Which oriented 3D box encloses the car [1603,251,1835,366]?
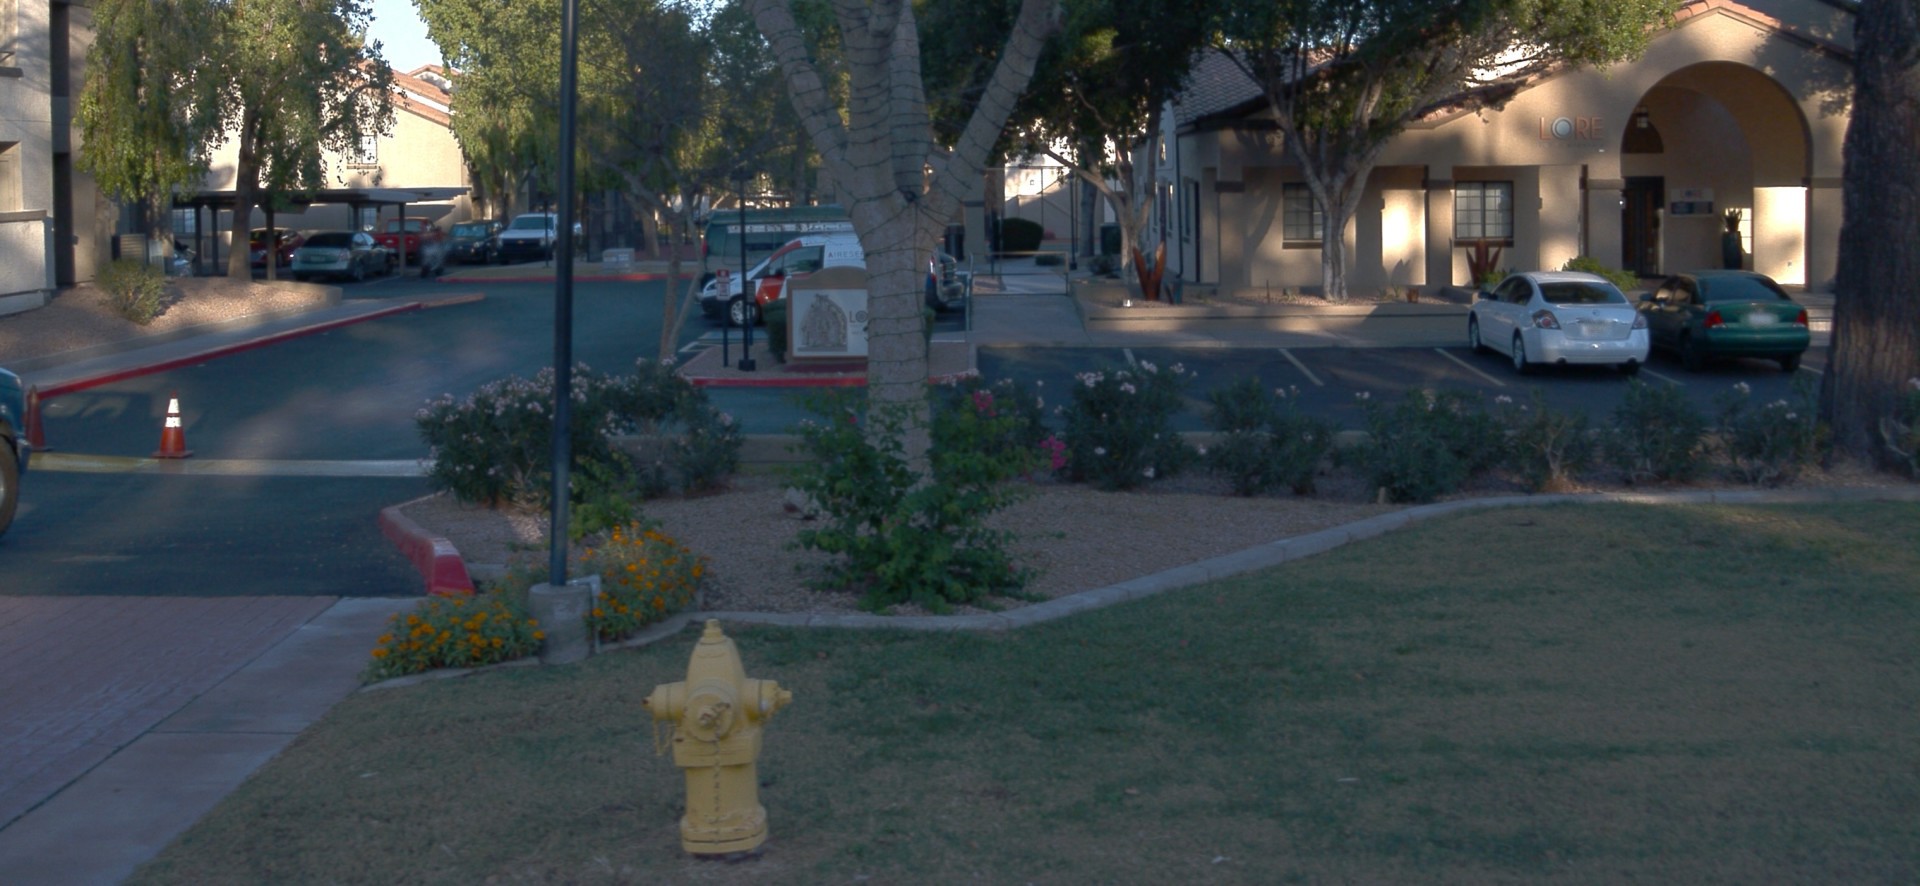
[{"bbox_3d":[11.703,-2.160,32.293,1.975,1.624,4.674,0,5,1],"label":"car"}]

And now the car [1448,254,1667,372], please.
[{"bbox_3d":[9.080,-2.070,31.890,2.100,1.624,4.627,0,5,1],"label":"car"}]
